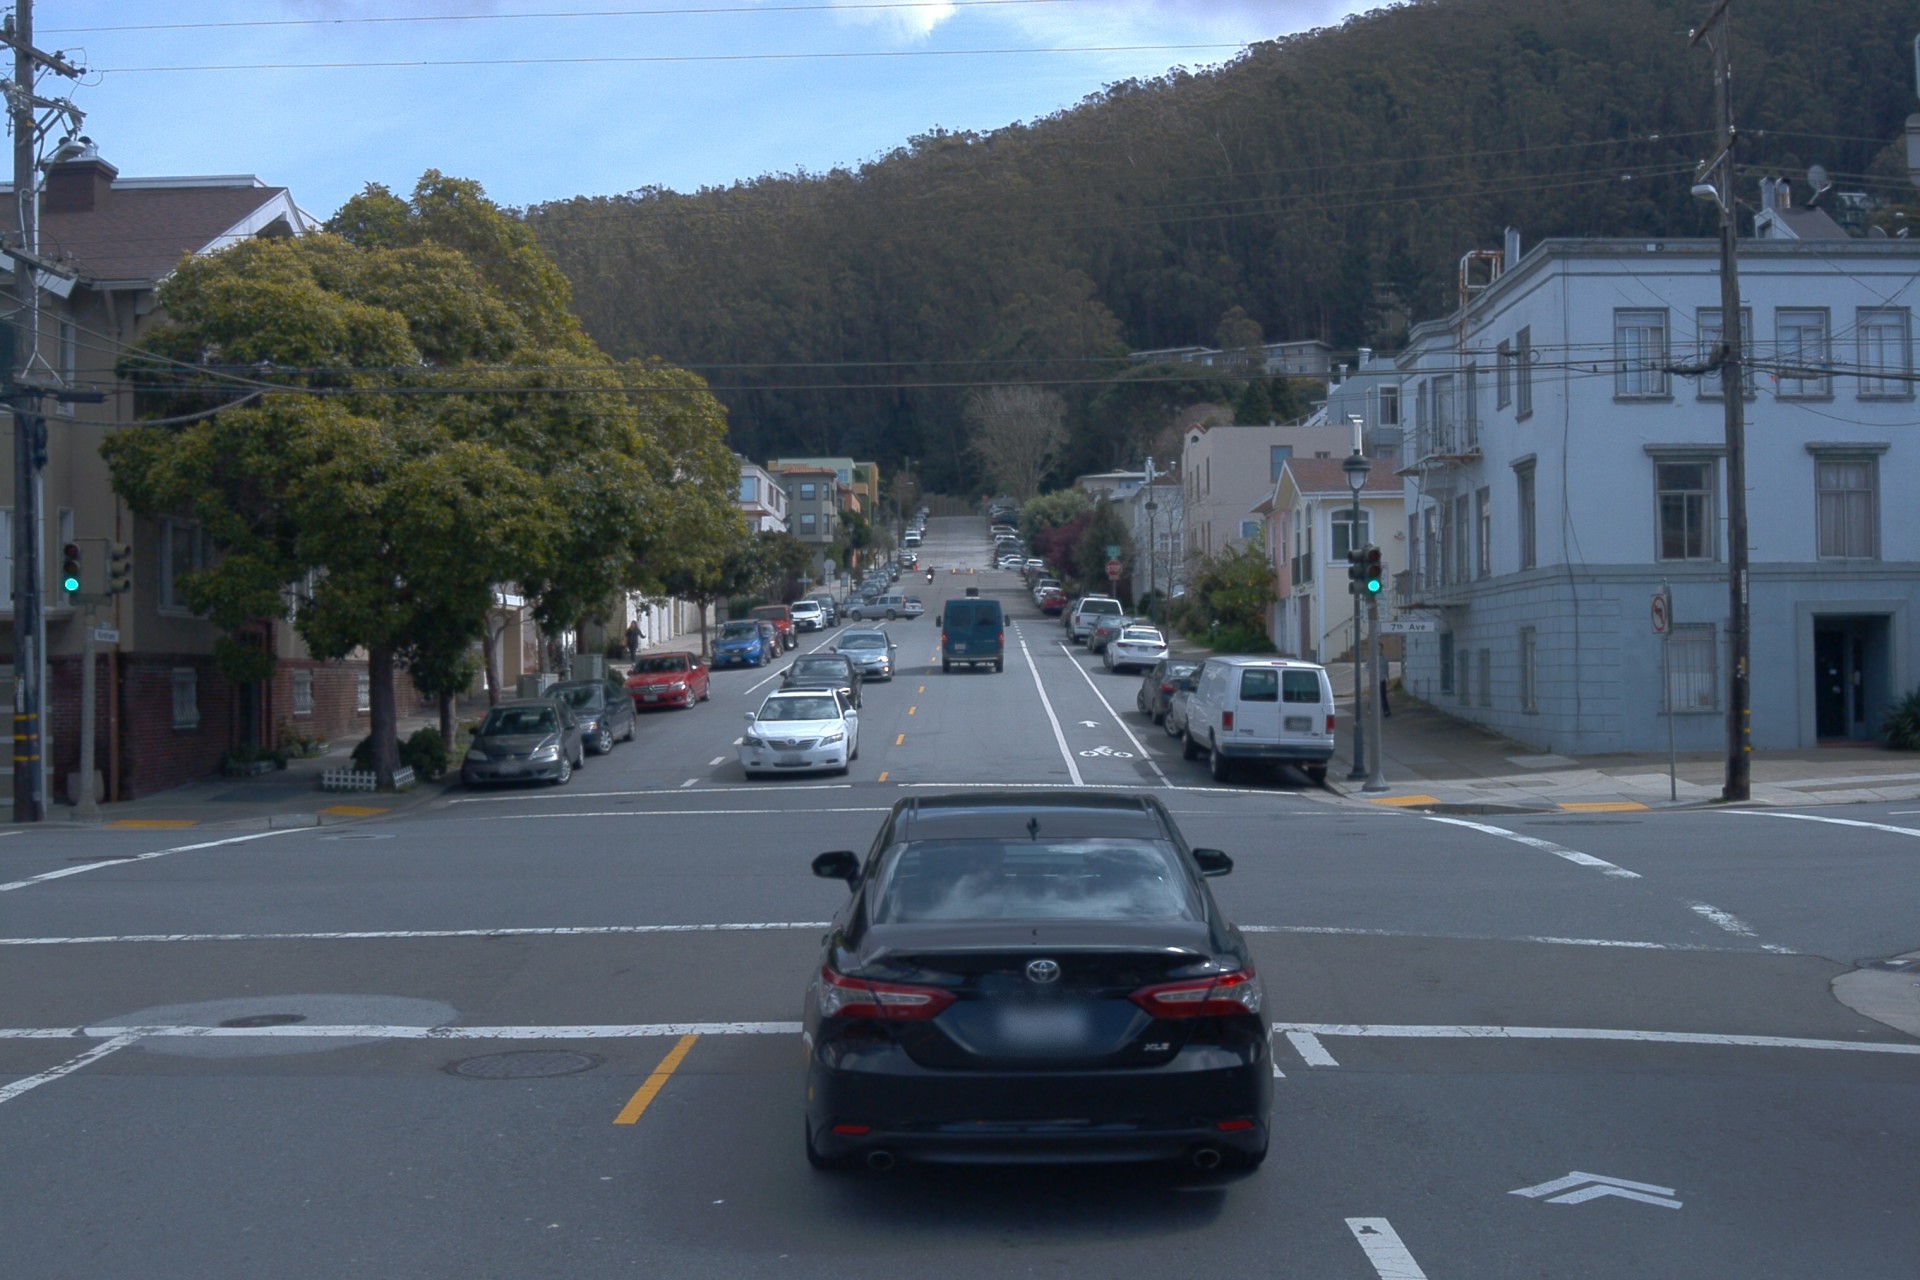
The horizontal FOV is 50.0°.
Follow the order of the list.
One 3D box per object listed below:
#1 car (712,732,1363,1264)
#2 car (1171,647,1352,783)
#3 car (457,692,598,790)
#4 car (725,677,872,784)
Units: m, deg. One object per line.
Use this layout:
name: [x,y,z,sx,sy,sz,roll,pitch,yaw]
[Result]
car: [0.305,1.344,9.523,2.249,1.620,4.798,0,0,1]
car: [5.310,1.261,37.048,2.299,2.250,5.313,0,0,-2]
car: [-7.714,1.767,37.087,1.836,1.560,4.133,0,0,-3]
car: [-2.848,1.584,37.404,2.209,1.750,4.541,0,0,1]
